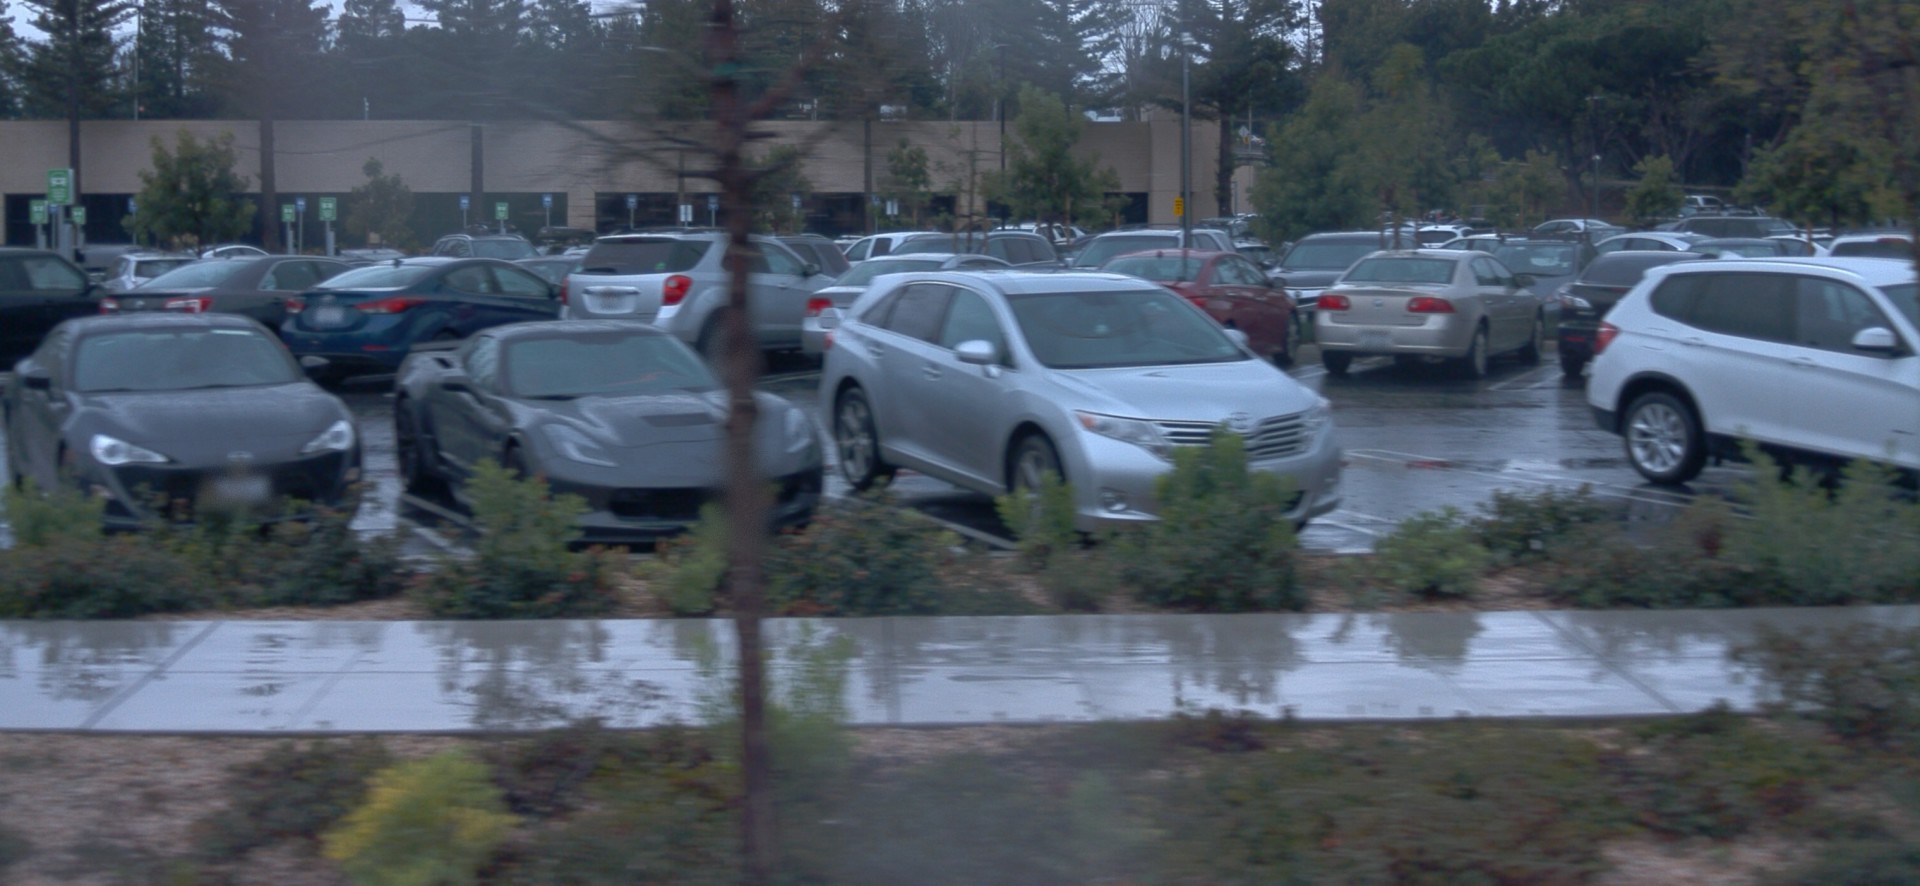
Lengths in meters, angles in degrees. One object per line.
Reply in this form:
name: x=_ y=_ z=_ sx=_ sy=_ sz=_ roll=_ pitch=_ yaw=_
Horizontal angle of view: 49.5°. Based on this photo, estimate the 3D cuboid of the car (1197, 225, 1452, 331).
car: x=5.440 y=-2.465 z=30.456 sx=2.305 sy=1.394 sz=4.945 roll=3 pitch=6 yaw=27

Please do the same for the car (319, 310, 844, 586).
car: x=-2.691 y=-0.135 z=13.756 sx=2.186 sy=1.294 sz=4.519 roll=-2 pitch=6 yaw=-27

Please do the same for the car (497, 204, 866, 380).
car: x=-3.160 y=-1.852 z=24.578 sx=2.009 sy=1.863 sz=4.524 roll=2 pitch=5 yaw=29

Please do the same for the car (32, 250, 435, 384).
car: x=-8.431 y=-1.564 z=24.608 sx=1.884 sy=1.374 sz=4.475 roll=2 pitch=6 yaw=26

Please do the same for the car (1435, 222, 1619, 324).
car: x=8.468 y=-2.561 z=30.865 sx=1.932 sy=1.374 sz=4.194 roll=2 pitch=6 yaw=25

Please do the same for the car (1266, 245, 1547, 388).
car: x=5.479 y=-1.609 z=25.035 sx=2.156 sy=1.494 sz=4.635 roll=3 pitch=6 yaw=27

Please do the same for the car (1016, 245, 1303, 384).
car: x=2.476 y=-1.601 z=24.621 sx=2.104 sy=1.434 sz=4.558 roll=2 pitch=6 yaw=23

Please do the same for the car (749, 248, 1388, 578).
car: x=0.458 y=-0.401 z=13.777 sx=2.246 sy=1.703 sz=4.791 roll=-1 pitch=6 yaw=-25

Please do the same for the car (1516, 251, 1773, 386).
car: x=8.267 y=-1.566 z=24.889 sx=2.068 sy=1.404 sz=4.468 roll=3 pitch=6 yaw=29

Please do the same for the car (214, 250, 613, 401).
car: x=-6.116 y=-1.436 z=23.877 sx=1.966 sy=1.494 sz=4.522 roll=2 pitch=6 yaw=26

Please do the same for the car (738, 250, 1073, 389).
car: x=-0.523 y=-1.515 z=24.226 sx=2.075 sy=1.414 sz=4.218 roll=3 pitch=6 yaw=28
